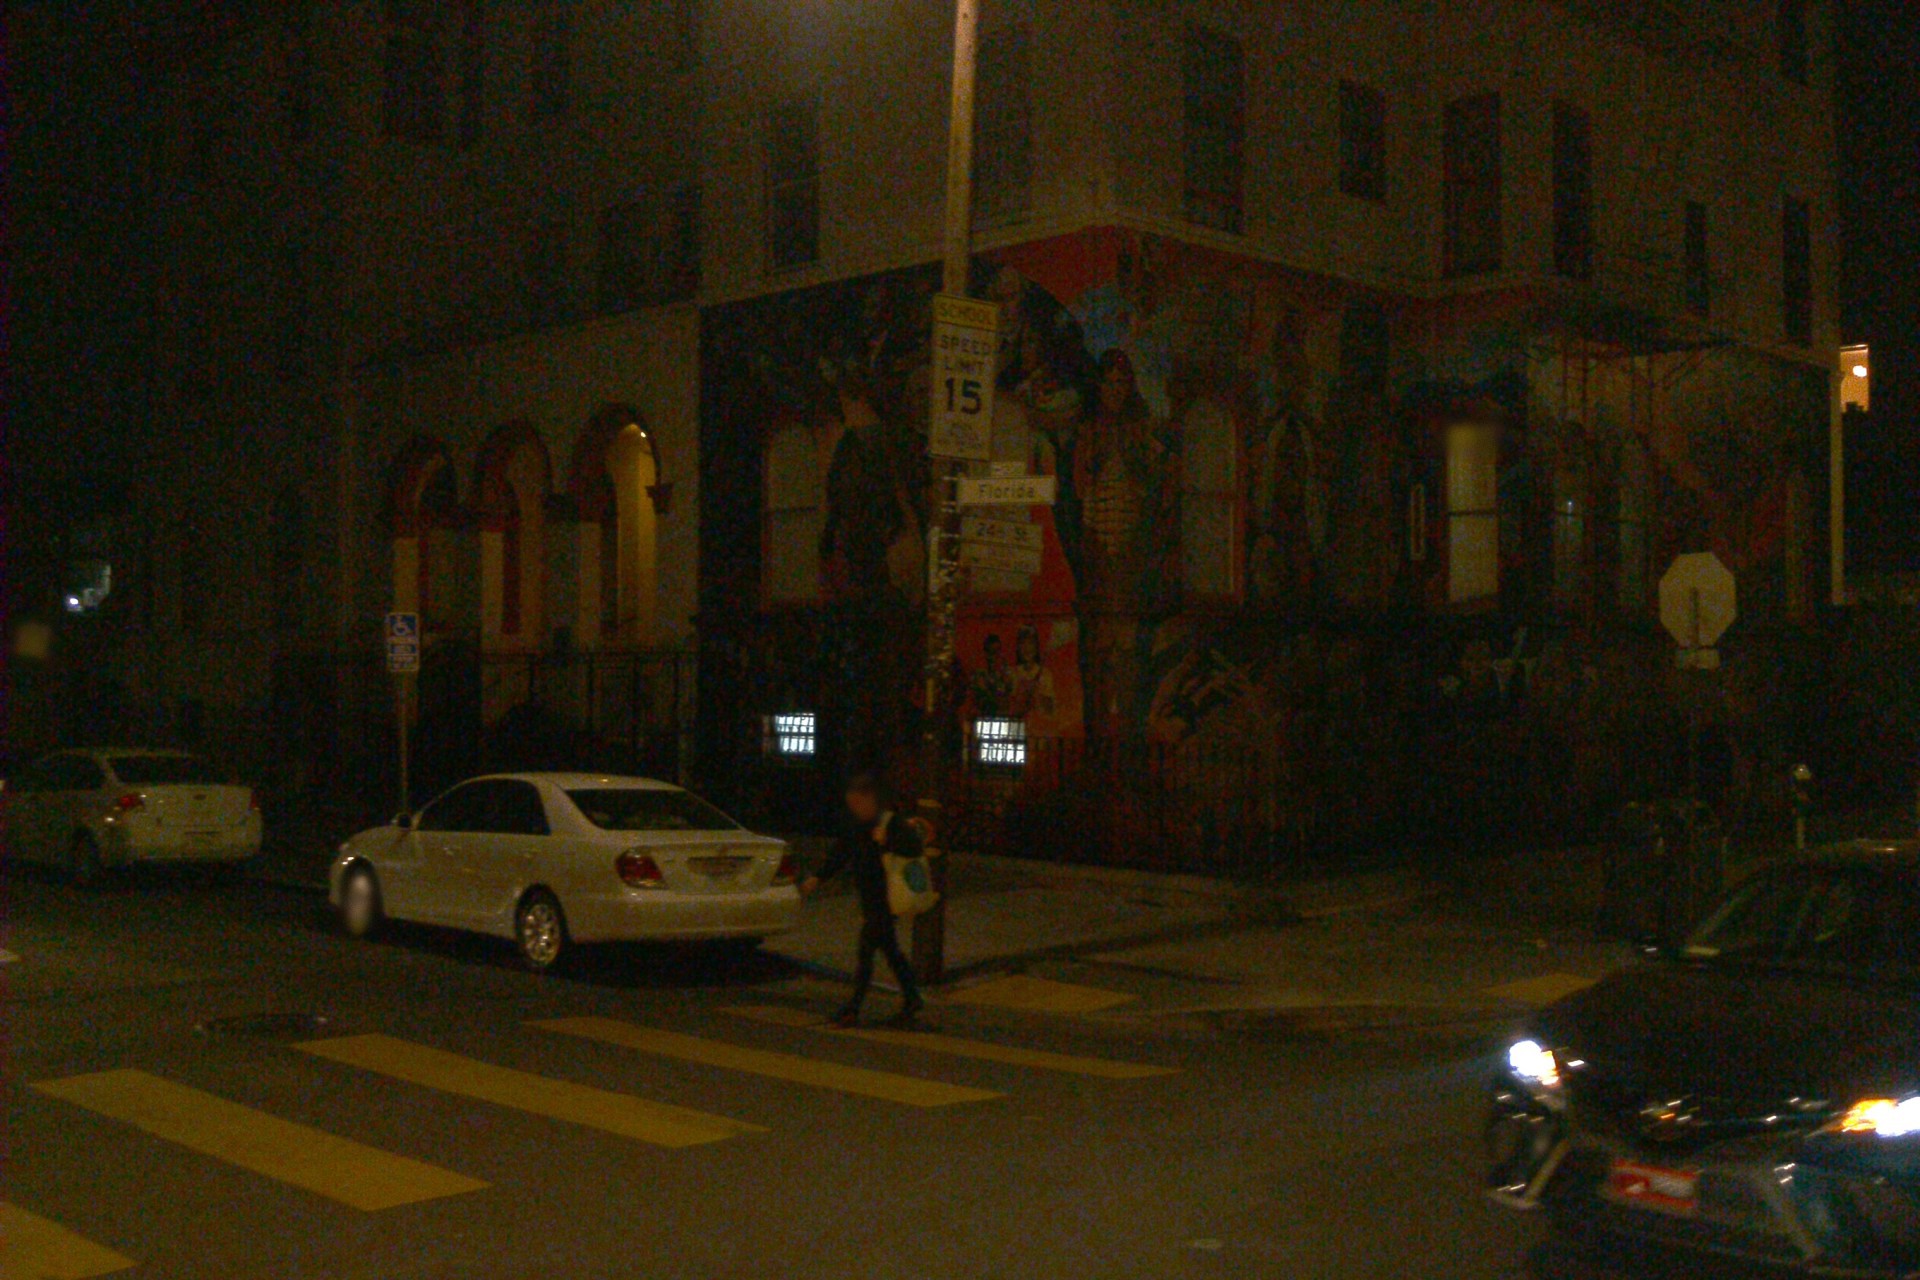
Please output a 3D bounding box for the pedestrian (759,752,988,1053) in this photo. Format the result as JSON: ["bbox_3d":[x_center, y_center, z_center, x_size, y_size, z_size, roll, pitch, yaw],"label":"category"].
[{"bbox_3d":[-0.565,1.663,13.597,1.001,1.780,1.083,0,0,44],"label":"pedestrian"}]

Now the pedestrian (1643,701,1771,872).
[{"bbox_3d":[8.430,1.623,23.467,1.008,1.830,1.025,0,0,44],"label":"pedestrian"}]

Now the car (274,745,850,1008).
[{"bbox_3d":[-3.342,1.757,16.813,2.249,1.540,4.811,1,0,-45],"label":"car"}]
